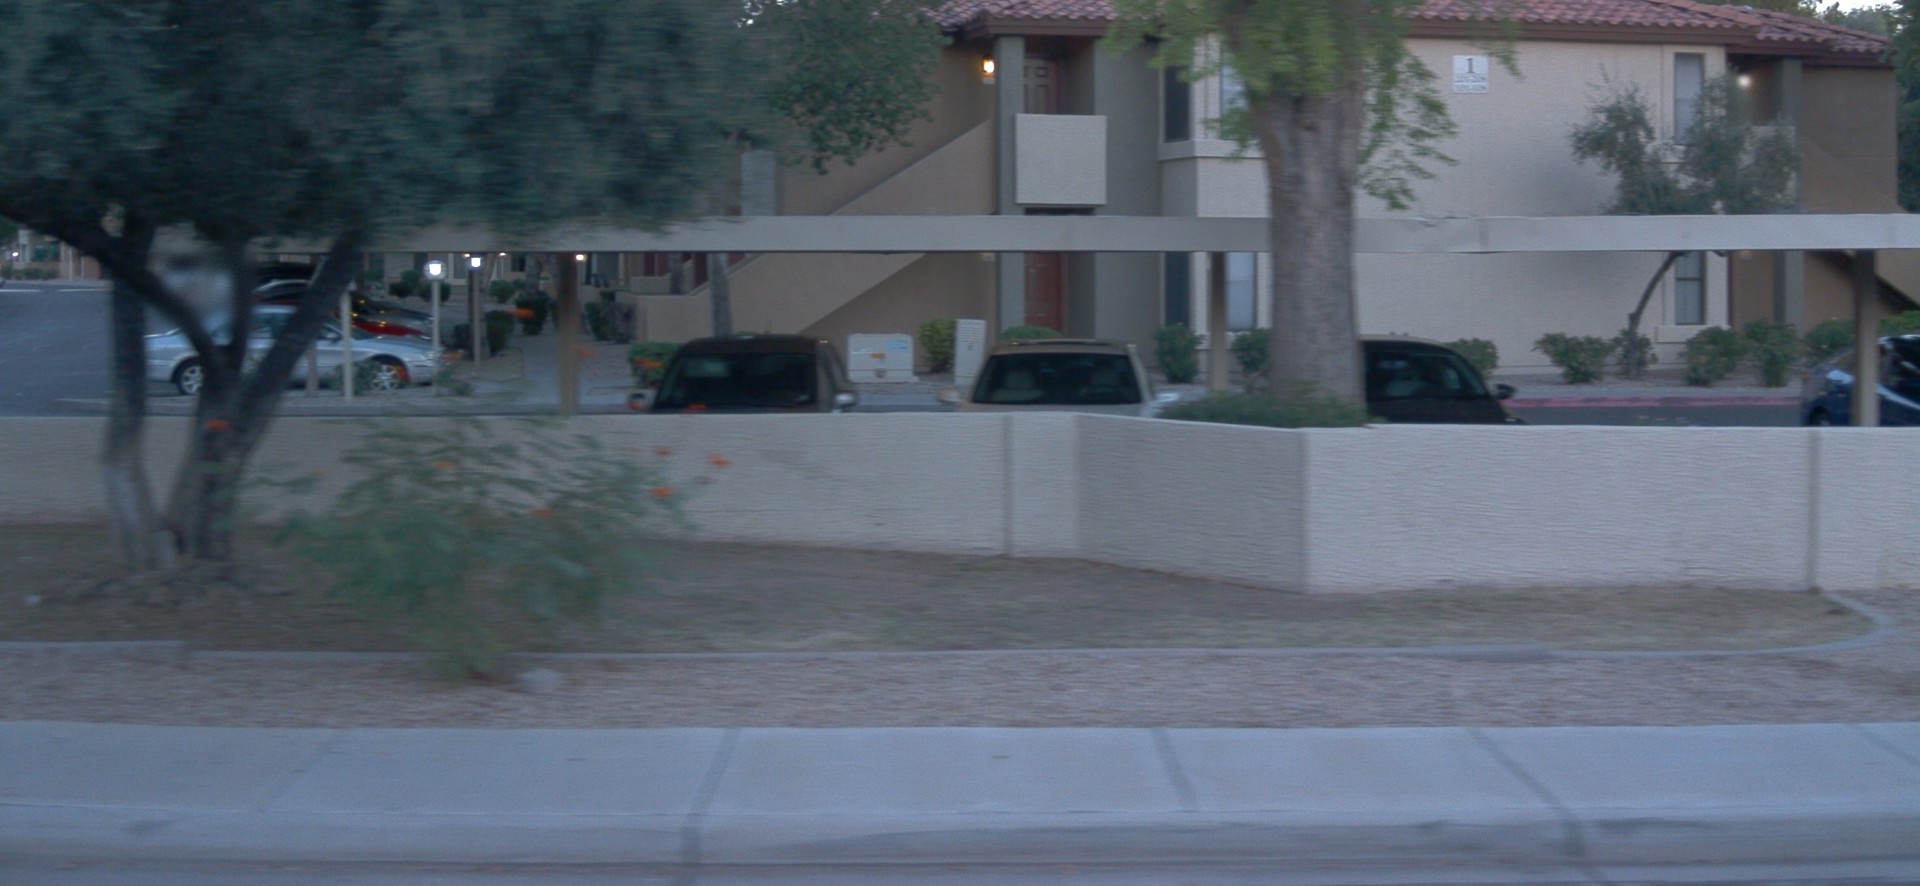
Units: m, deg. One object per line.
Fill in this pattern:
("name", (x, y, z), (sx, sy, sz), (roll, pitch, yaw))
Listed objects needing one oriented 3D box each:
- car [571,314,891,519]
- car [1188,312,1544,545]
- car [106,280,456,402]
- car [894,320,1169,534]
("car", (-1.888, -0.350, 18.719), (2.063, 1.393, 4.558), (0, 6, 4))
("car", (3.437, -0.272, 18.709), (2.158, 1.562, 4.996), (0, 6, -1))
("car", (-10.691, -1.666, 33.194), (5.087, 1.735, 1.979), (-1, 4, -11))
("car", (0.716, -0.260, 18.535), (2.144, 1.433, 4.560), (0, 6, 4))
